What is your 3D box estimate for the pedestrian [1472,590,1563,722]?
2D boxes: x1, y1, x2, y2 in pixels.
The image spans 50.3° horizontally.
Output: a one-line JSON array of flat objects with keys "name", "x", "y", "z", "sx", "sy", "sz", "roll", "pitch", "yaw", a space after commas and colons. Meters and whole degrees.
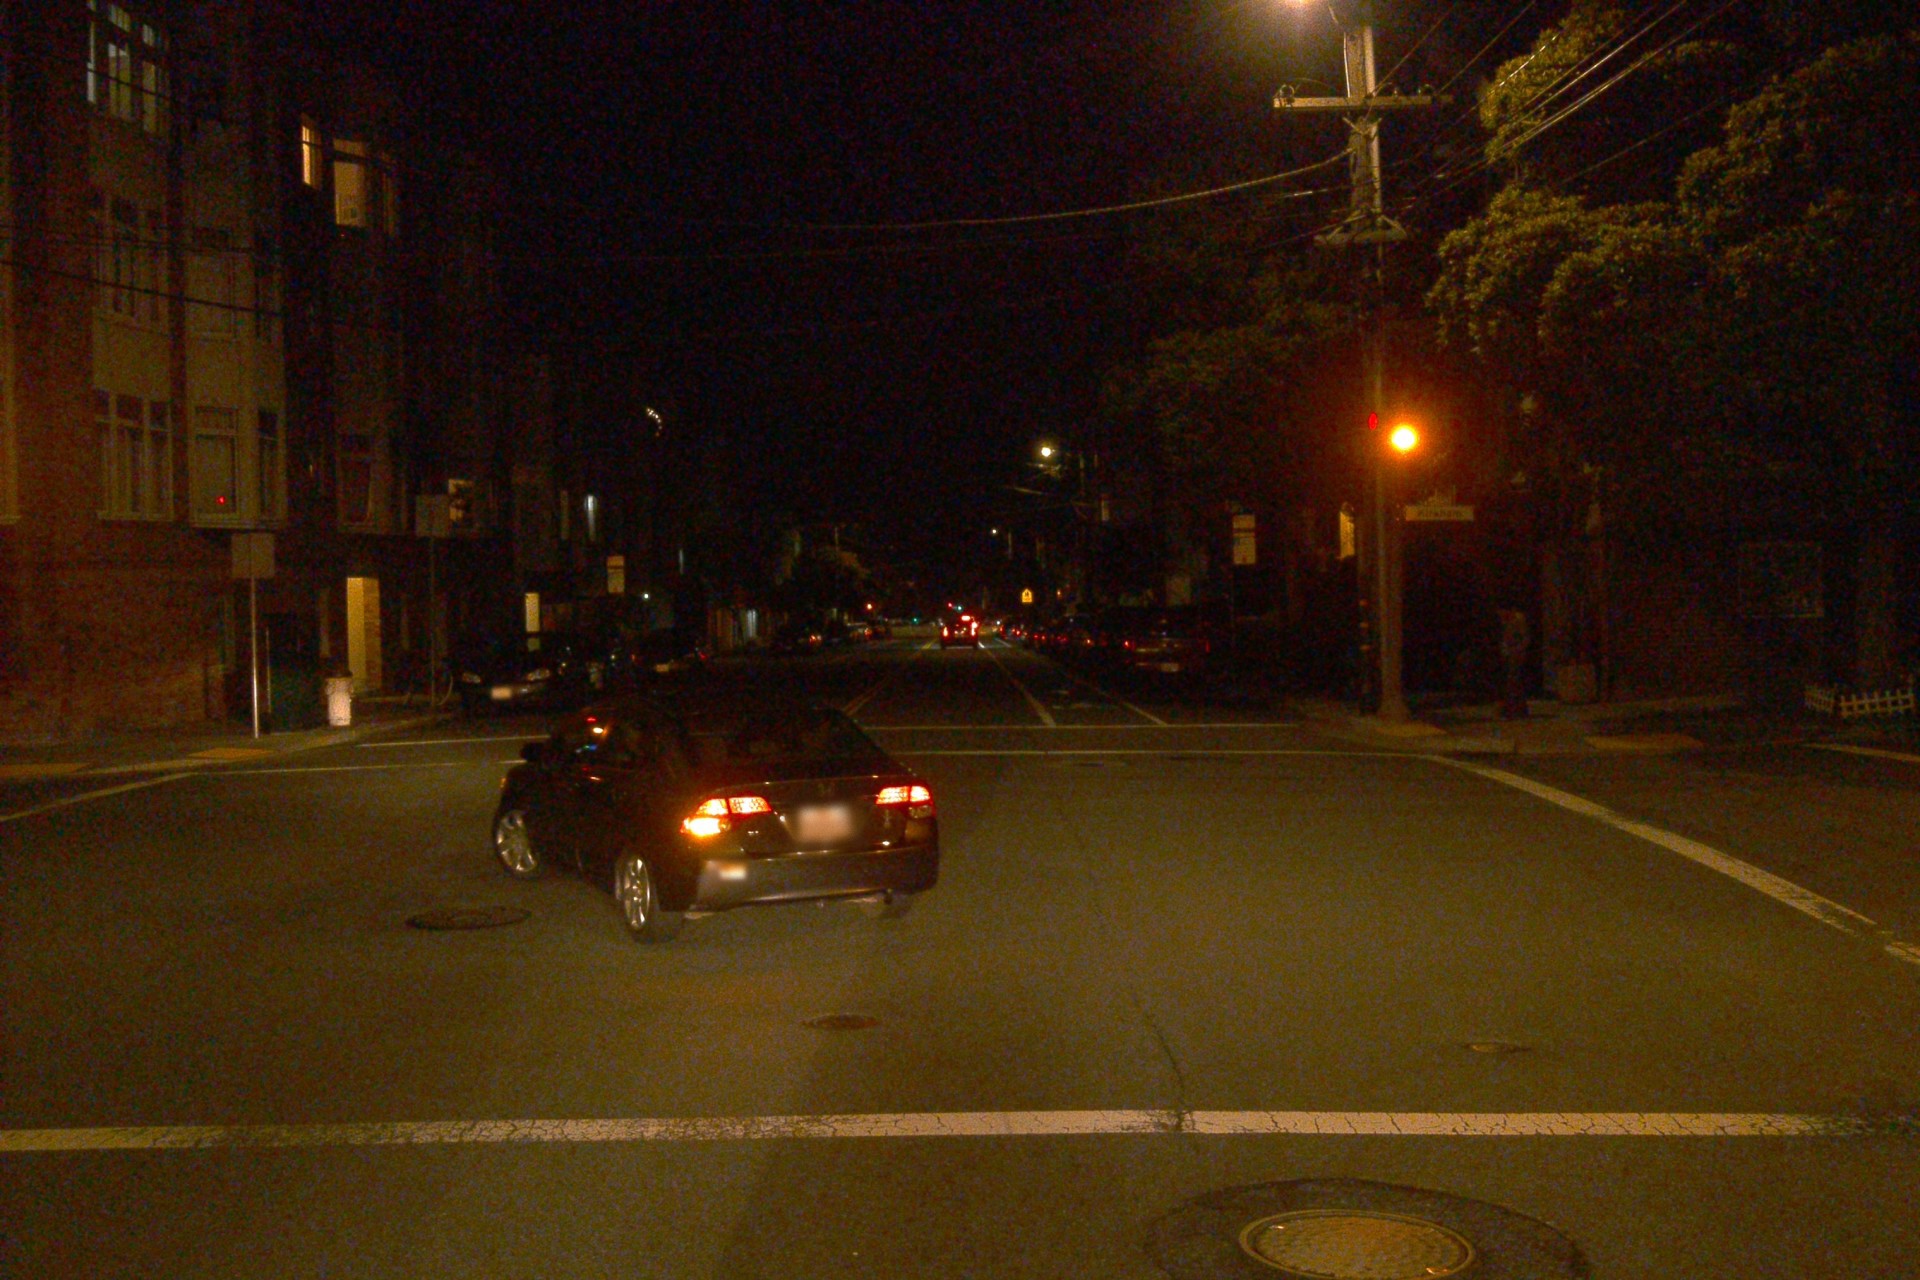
[{"name": "pedestrian", "x": 7.255, "y": 0.206, "z": 26.622, "sx": 0.936, "sy": 1.691, "sz": 0.623, "roll": 0, "pitch": 0, "yaw": -12}]

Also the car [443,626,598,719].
[{"name": "car", "x": -7.906, "y": 0.550, "z": 37.177, "sx": 1.948, "sy": 1.580, "sz": 4.098, "roll": 1, "pitch": 0, "yaw": 0}]

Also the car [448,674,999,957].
[{"name": "car", "x": -1.777, "y": 0.993, "z": 13.580, "sx": 2.066, "sy": 1.420, "sz": 4.597, "roll": 0, "pitch": 0, "yaw": -28}]
